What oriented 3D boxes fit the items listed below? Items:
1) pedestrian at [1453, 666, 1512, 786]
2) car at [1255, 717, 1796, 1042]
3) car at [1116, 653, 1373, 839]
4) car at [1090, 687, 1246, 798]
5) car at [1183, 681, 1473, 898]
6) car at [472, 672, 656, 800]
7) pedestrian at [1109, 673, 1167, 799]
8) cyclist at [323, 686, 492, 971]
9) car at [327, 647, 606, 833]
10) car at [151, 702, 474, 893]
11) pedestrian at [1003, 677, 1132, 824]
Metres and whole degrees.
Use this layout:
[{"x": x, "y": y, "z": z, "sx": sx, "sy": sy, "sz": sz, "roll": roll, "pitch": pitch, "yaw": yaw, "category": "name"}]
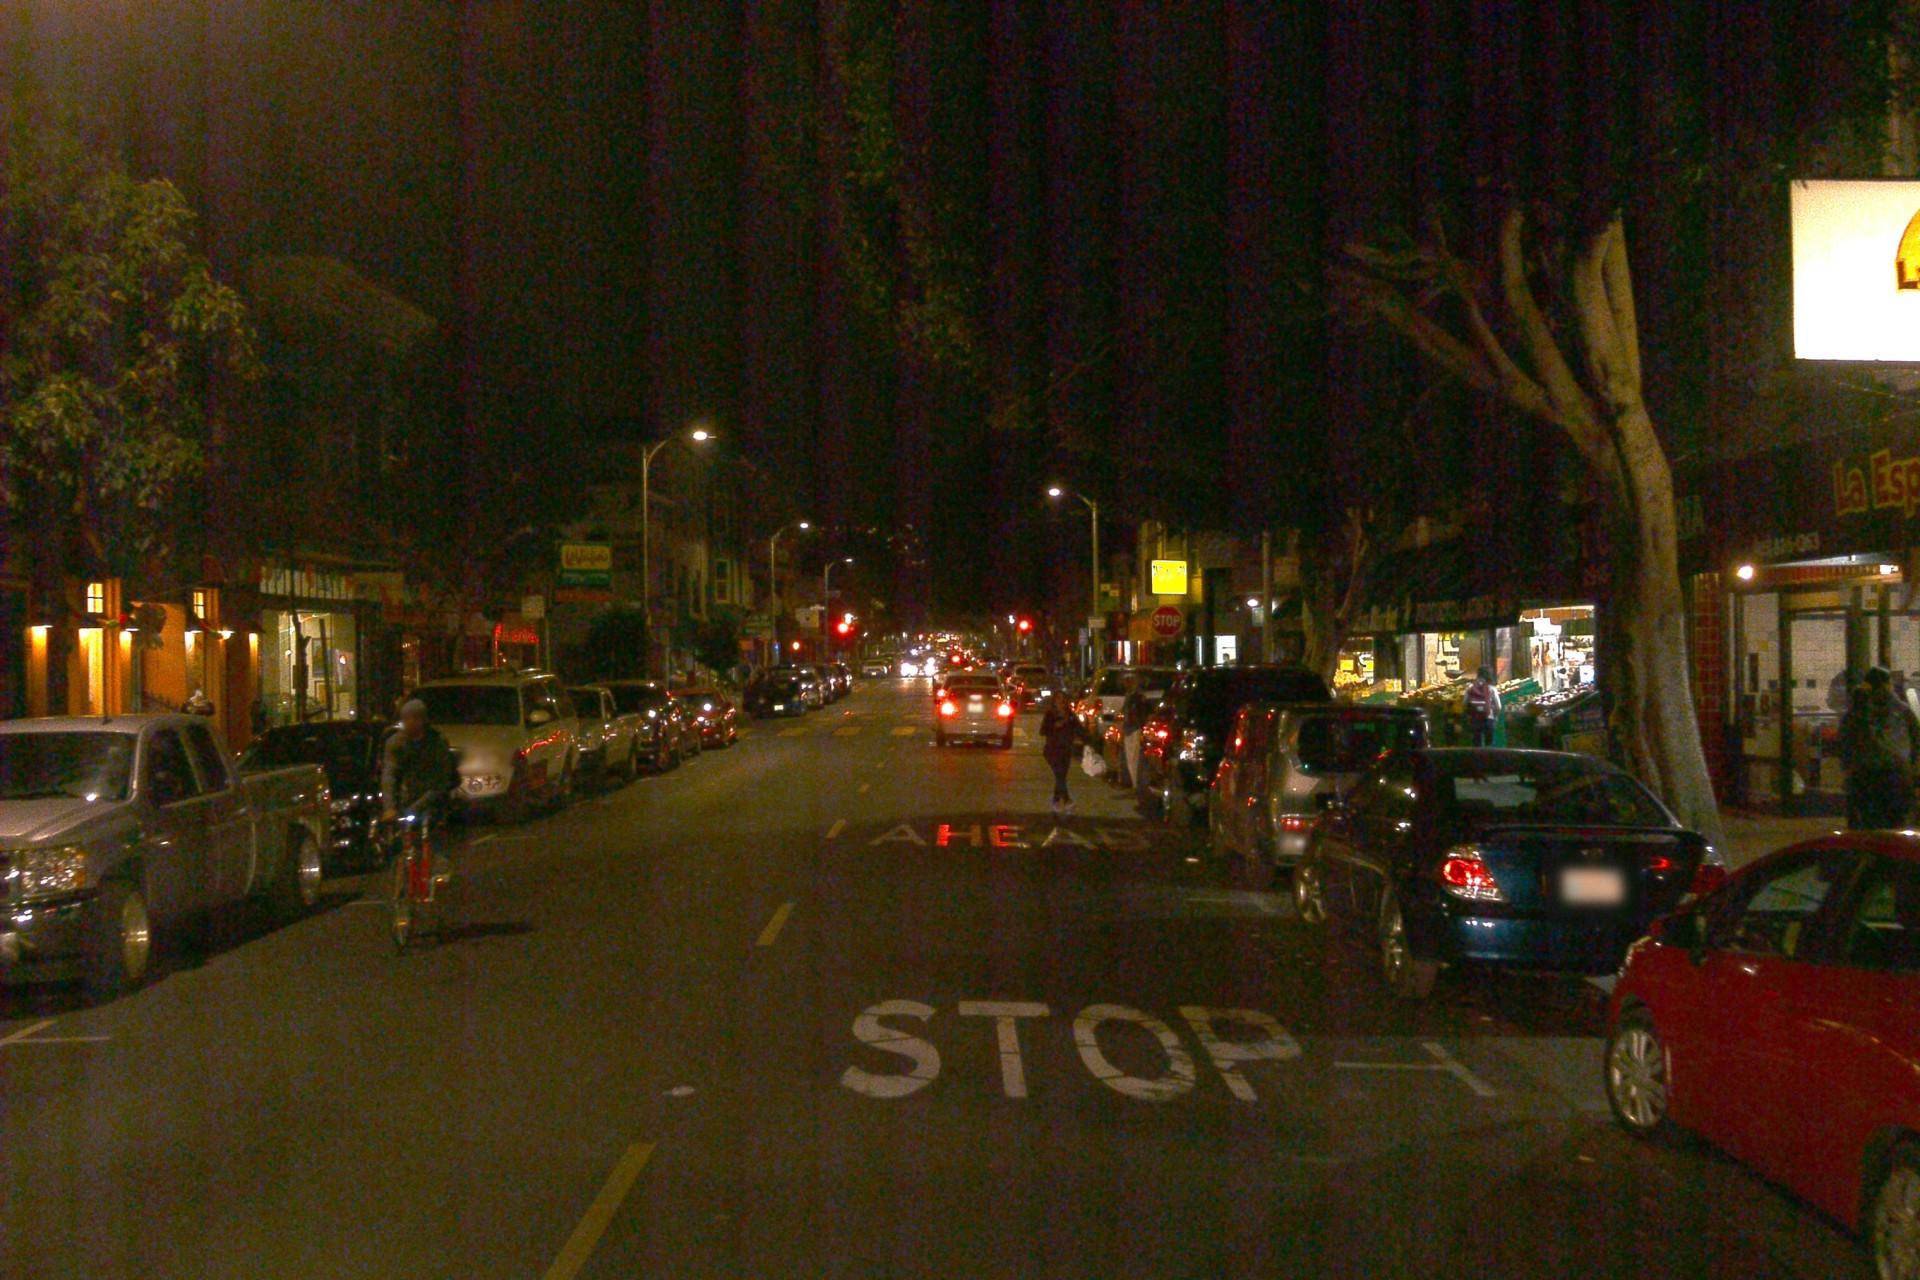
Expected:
[{"x": 7.394, "y": 1.197, "z": 29.288, "sx": 0.698, "sy": 1.660, "sz": 0.758, "roll": 0, "pitch": 0, "yaw": 23, "category": "pedestrian"}, {"x": 3.452, "y": 1.402, "z": 13.853, "sx": 2.120, "sy": 1.590, "sz": 5.116, "roll": 0, "pitch": 0, "yaw": -1, "category": "car"}, {"x": 3.373, "y": 1.204, "z": 25.711, "sx": 2.447, "sy": 2.060, "sz": 5.127, "roll": 0, "pitch": 0, "yaw": 0, "category": "car"}, {"x": 3.179, "y": 1.541, "z": 32.478, "sx": 1.869, "sy": 1.530, "sz": 4.555, "roll": 0, "pitch": 0, "yaw": -1, "category": "car"}, {"x": 3.350, "y": 1.313, "z": 19.613, "sx": 1.973, "sy": 1.780, "sz": 3.973, "roll": 0, "pitch": 0, "yaw": 0, "category": "car"}, {"x": -6.413, "y": 1.503, "z": 34.075, "sx": 2.057, "sy": 1.900, "sz": 4.853, "roll": 0, "pitch": 0, "yaw": 1, "category": "car"}, {"x": 2.558, "y": 1.371, "z": 29.841, "sx": 0.626, "sy": 1.790, "sz": 0.704, "roll": 0, "pitch": 0, "yaw": -13, "category": "pedestrian"}, {"x": -3.956, "y": 1.299, "z": 14.963, "sx": 0.722, "sy": 1.900, "sz": 1.800, "roll": 0, "pitch": 0, "yaw": 0, "category": "cyclist"}, {"x": -6.398, "y": 1.219, "z": 27.542, "sx": 2.373, "sy": 2.220, "sz": 5.270, "roll": 0, "pitch": 0, "yaw": 1, "category": "car"}, {"x": -6.583, "y": 1.538, "z": 21.599, "sx": 2.108, "sy": 1.660, "sz": 4.521, "roll": 0, "pitch": 0, "yaw": -2, "category": "car"}, {"x": 1.334, "y": 1.355, "z": 25.848, "sx": 1.164, "sy": 1.760, "sz": 1.150, "roll": 1, "pitch": 0, "yaw": -27, "category": "pedestrian"}]
